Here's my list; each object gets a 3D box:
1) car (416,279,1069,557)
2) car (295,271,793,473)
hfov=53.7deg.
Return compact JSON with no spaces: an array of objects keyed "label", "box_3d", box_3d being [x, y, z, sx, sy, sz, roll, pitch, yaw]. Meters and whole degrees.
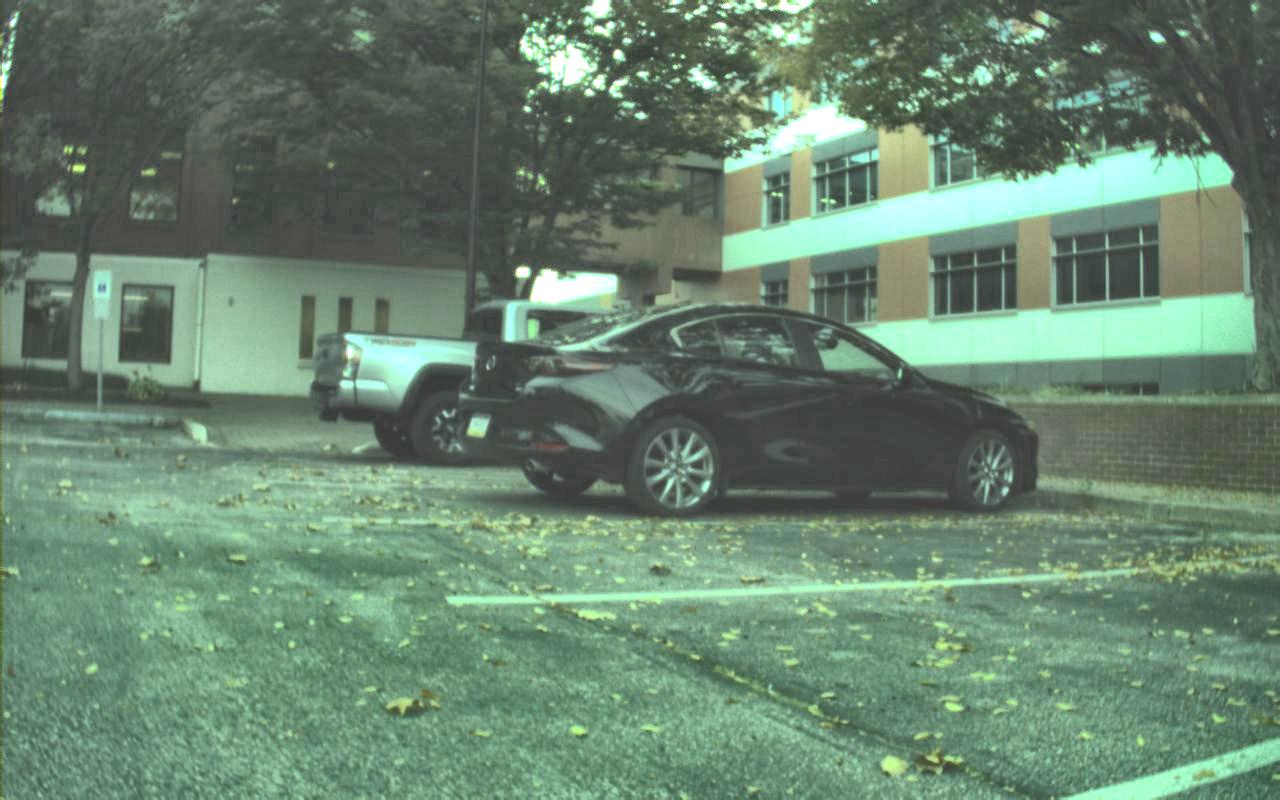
[{"label":"car","box_3d":[0.888,0.067,9.159,4.631,1.591,1.940,0,1,-31]},{"label":"car","box_3d":[-1.080,-0.297,13.755,5.141,1.922,2.104,0,1,-25]}]
